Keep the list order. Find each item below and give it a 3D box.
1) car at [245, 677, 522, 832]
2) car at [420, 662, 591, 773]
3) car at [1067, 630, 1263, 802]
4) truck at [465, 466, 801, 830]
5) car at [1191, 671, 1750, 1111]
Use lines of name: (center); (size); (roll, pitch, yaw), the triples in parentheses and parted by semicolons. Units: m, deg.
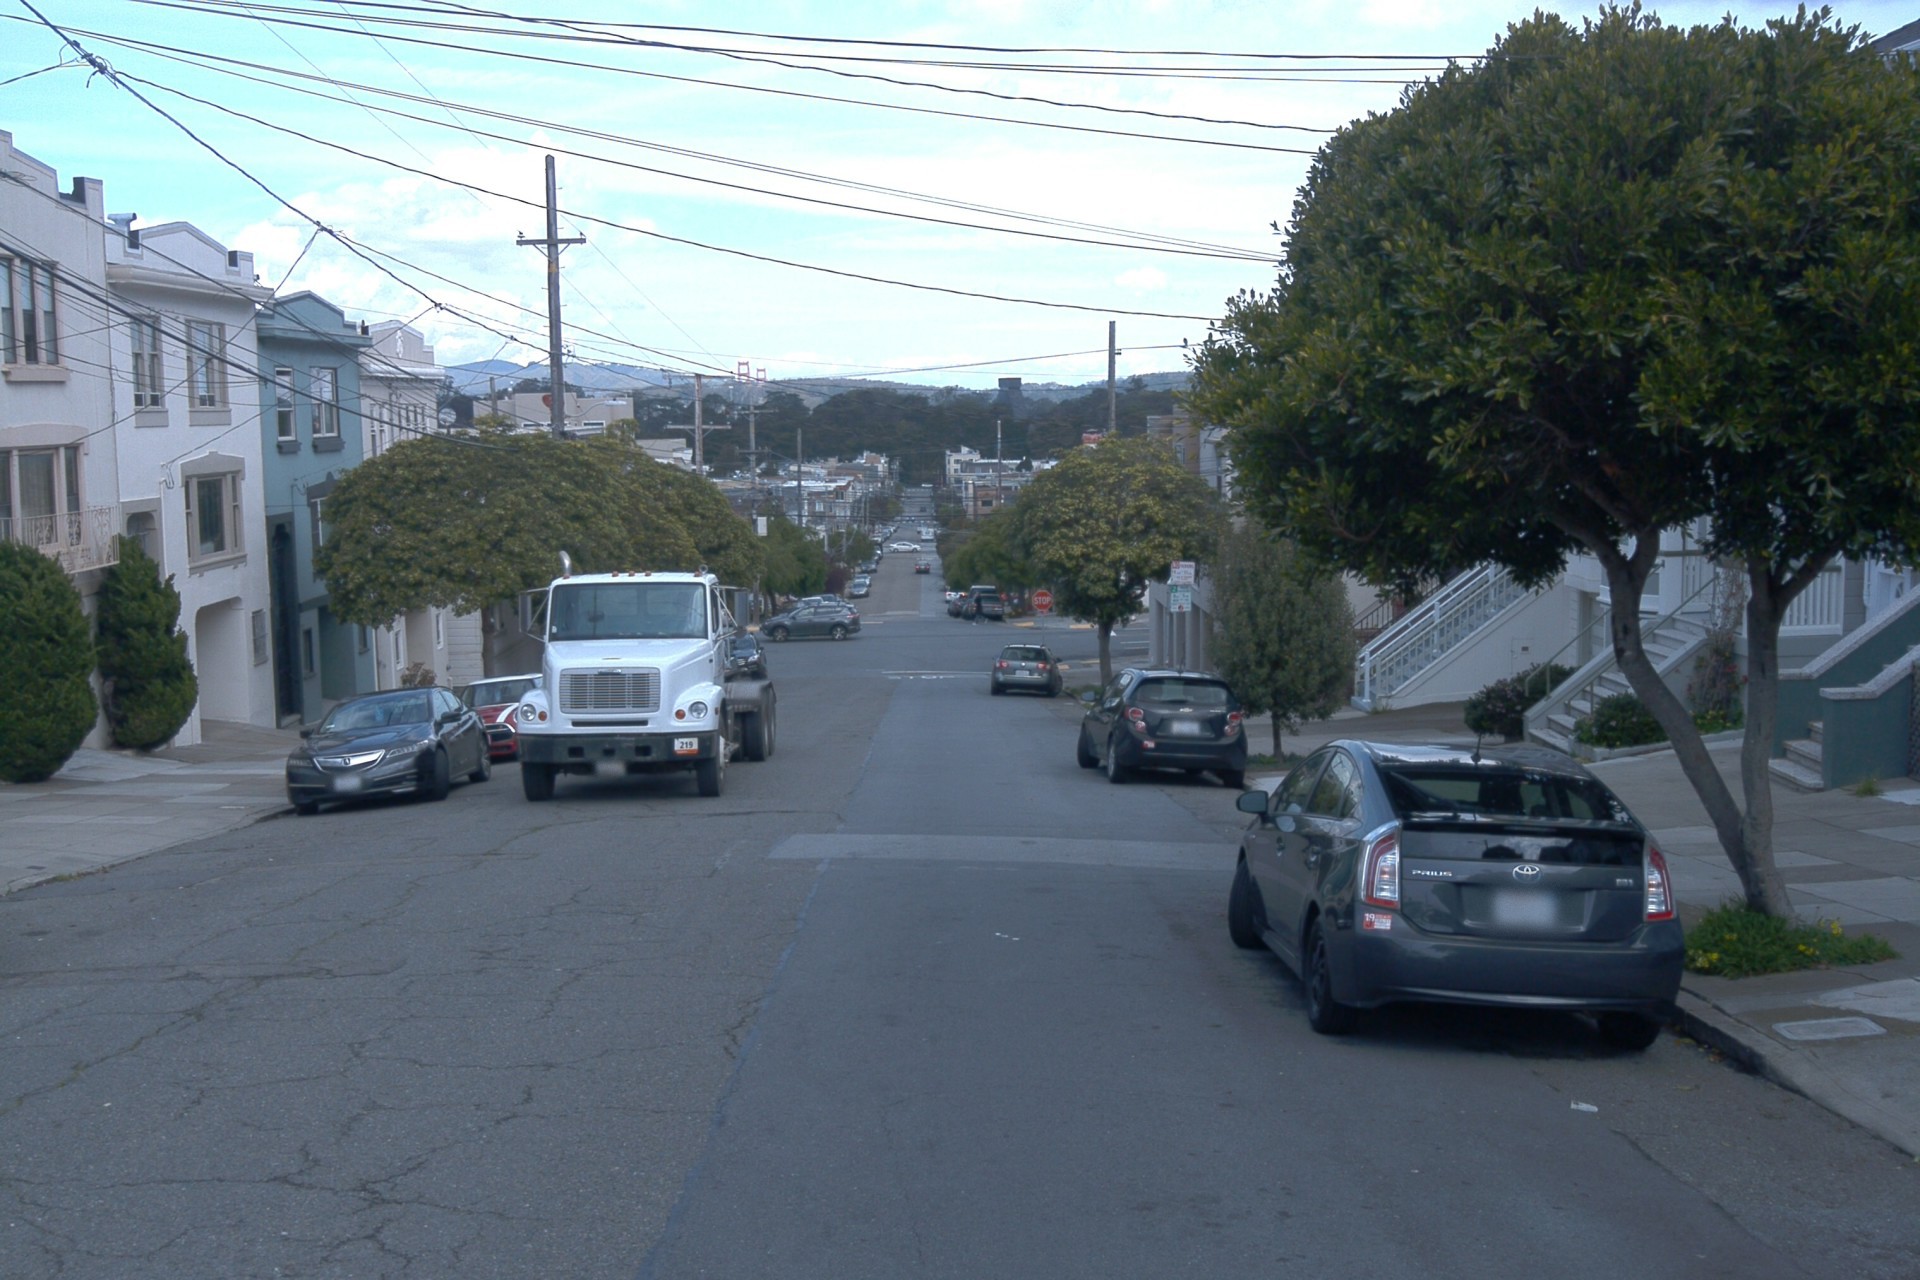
car: (-7.312, 1.392, 26.743); (2.303, 1.730, 4.905); (0, 0, -1)
car: (-7.577, 1.255, 34.722); (1.997, 1.710, 3.979); (0, 0, 0)
car: (2.678, 0.947, 27.903); (1.978, 2.130, 4.416); (0, 0, -3)
truck: (-4.026, 0.087, 28.043); (3.123, 4.040, 10.301); (0, 0, -1)
car: (2.661, 1.212, 11.979); (2.096, 2.000, 4.562); (0, 0, 0)
